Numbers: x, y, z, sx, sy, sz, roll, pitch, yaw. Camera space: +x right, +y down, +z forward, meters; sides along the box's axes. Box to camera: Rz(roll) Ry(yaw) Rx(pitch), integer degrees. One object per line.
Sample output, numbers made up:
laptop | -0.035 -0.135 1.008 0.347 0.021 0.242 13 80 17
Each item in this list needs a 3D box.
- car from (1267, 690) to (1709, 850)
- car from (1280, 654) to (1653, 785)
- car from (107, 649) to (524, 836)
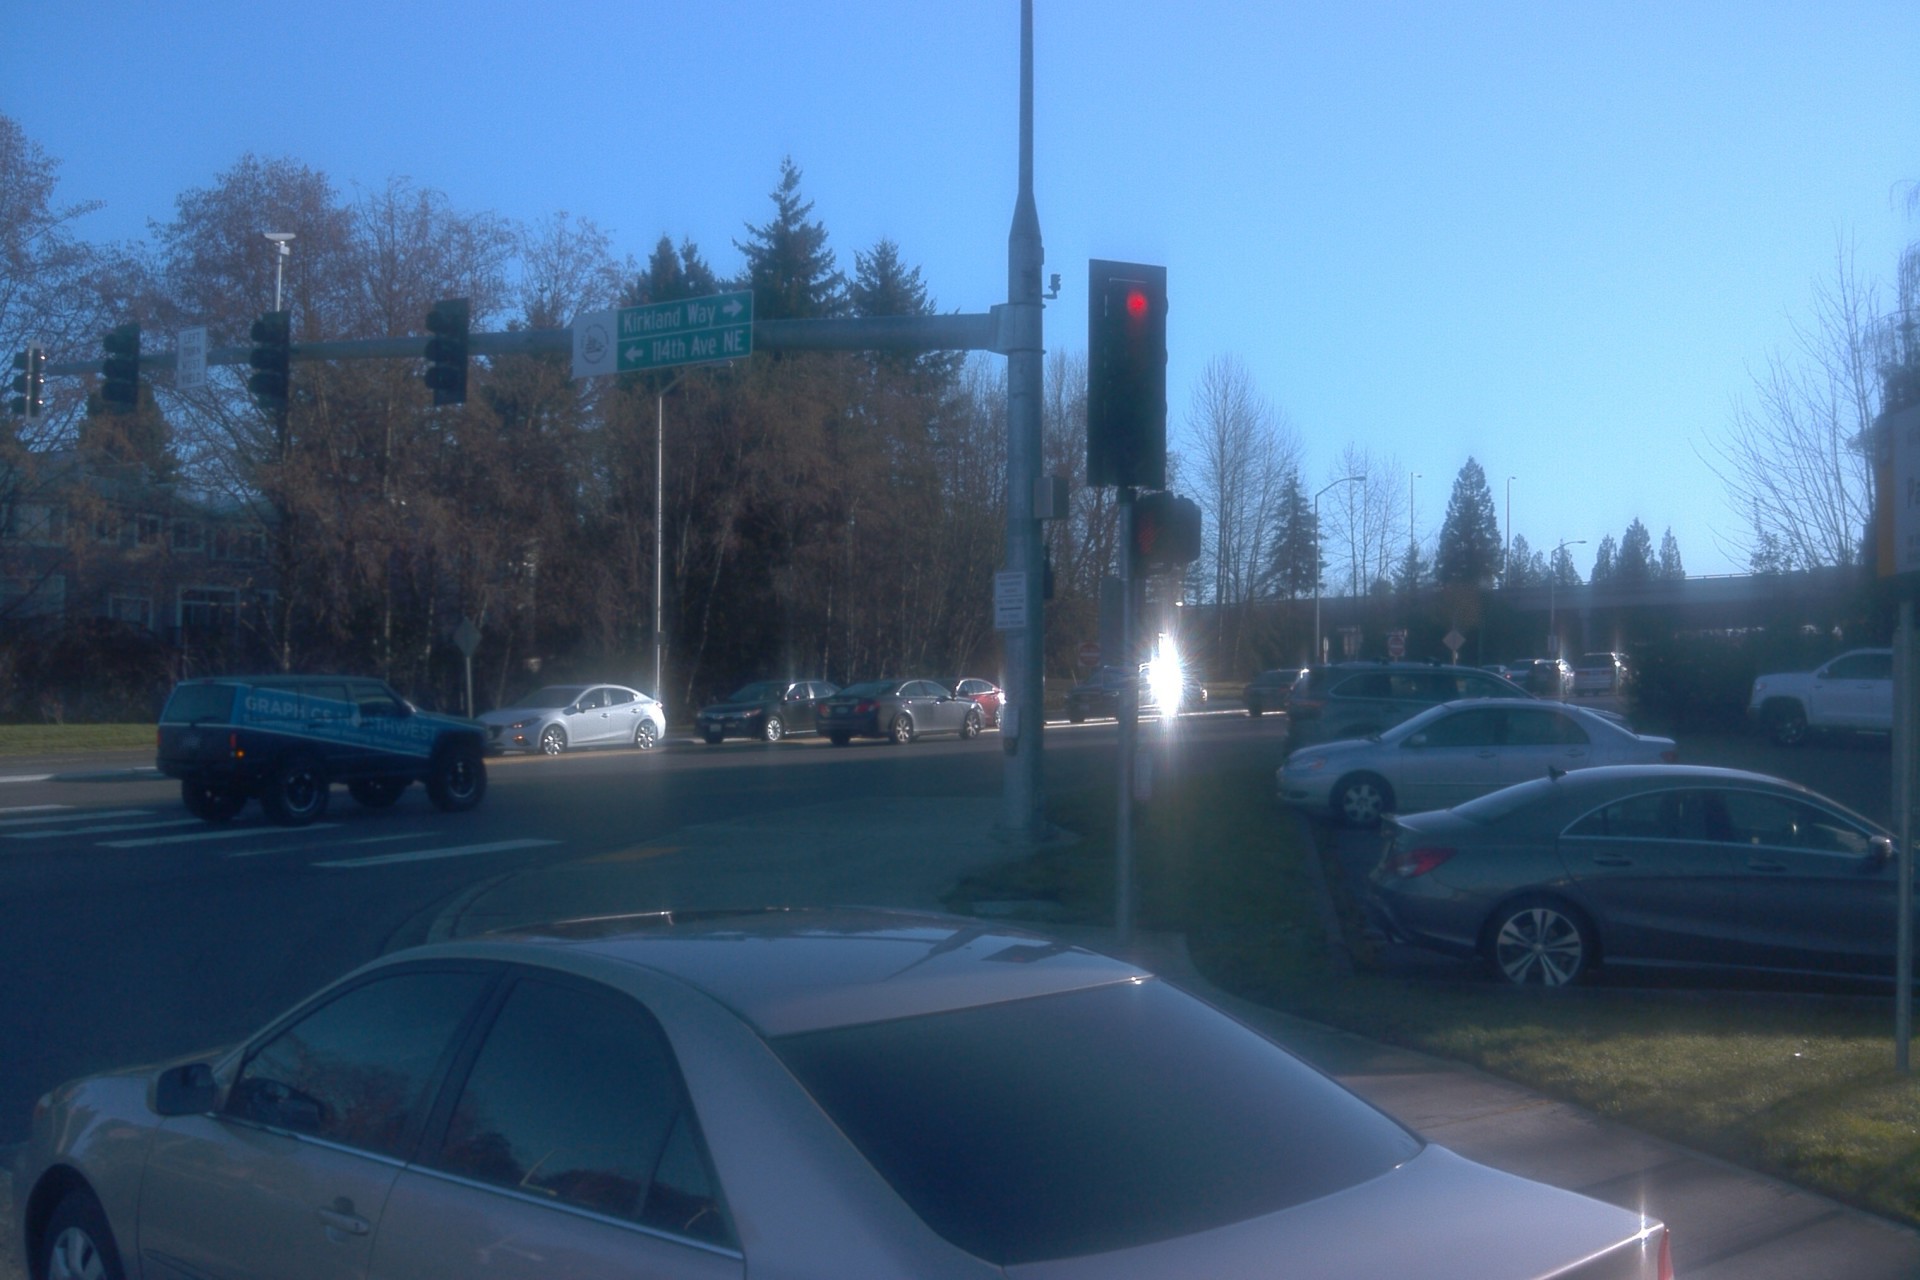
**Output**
car | 5.908 1.442 23.459 4.657 1.620 2.051 0 0 7
car | 7.007 1.077 28.821 4.869 1.700 2.043 0 0 7
car | -7.950 1.170 25.674 2.045 2.070 4.718 1 1 35
